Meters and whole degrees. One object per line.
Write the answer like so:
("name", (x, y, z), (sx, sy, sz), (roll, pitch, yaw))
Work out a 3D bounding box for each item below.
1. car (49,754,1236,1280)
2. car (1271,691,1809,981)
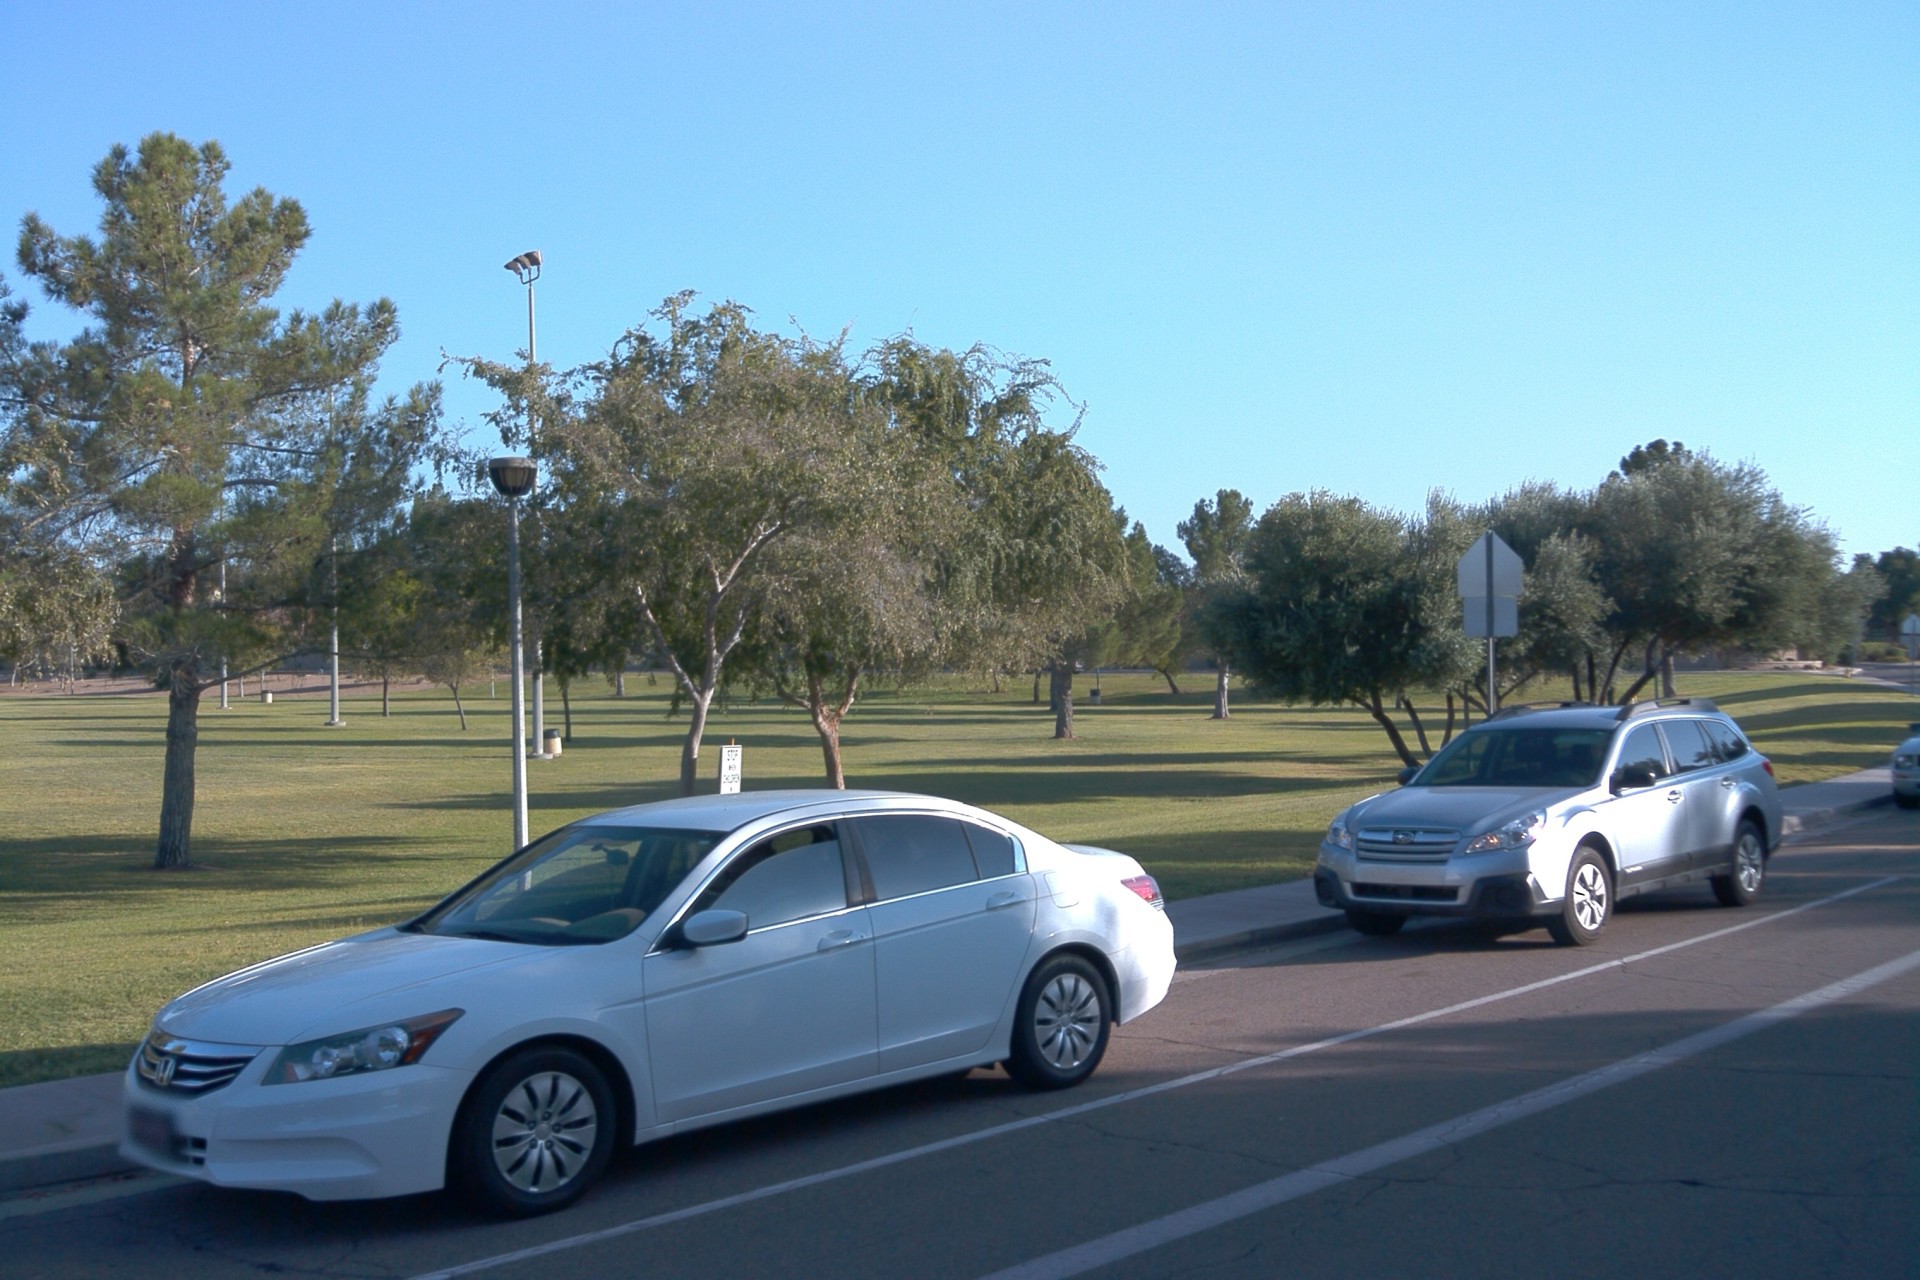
("car", (-1.137, 1.414, 9.392), (2.130, 1.470, 5.046), (1, 1, 44))
("car", (4.561, 1.320, 15.756), (1.948, 1.700, 4.879), (1, 1, 42))
